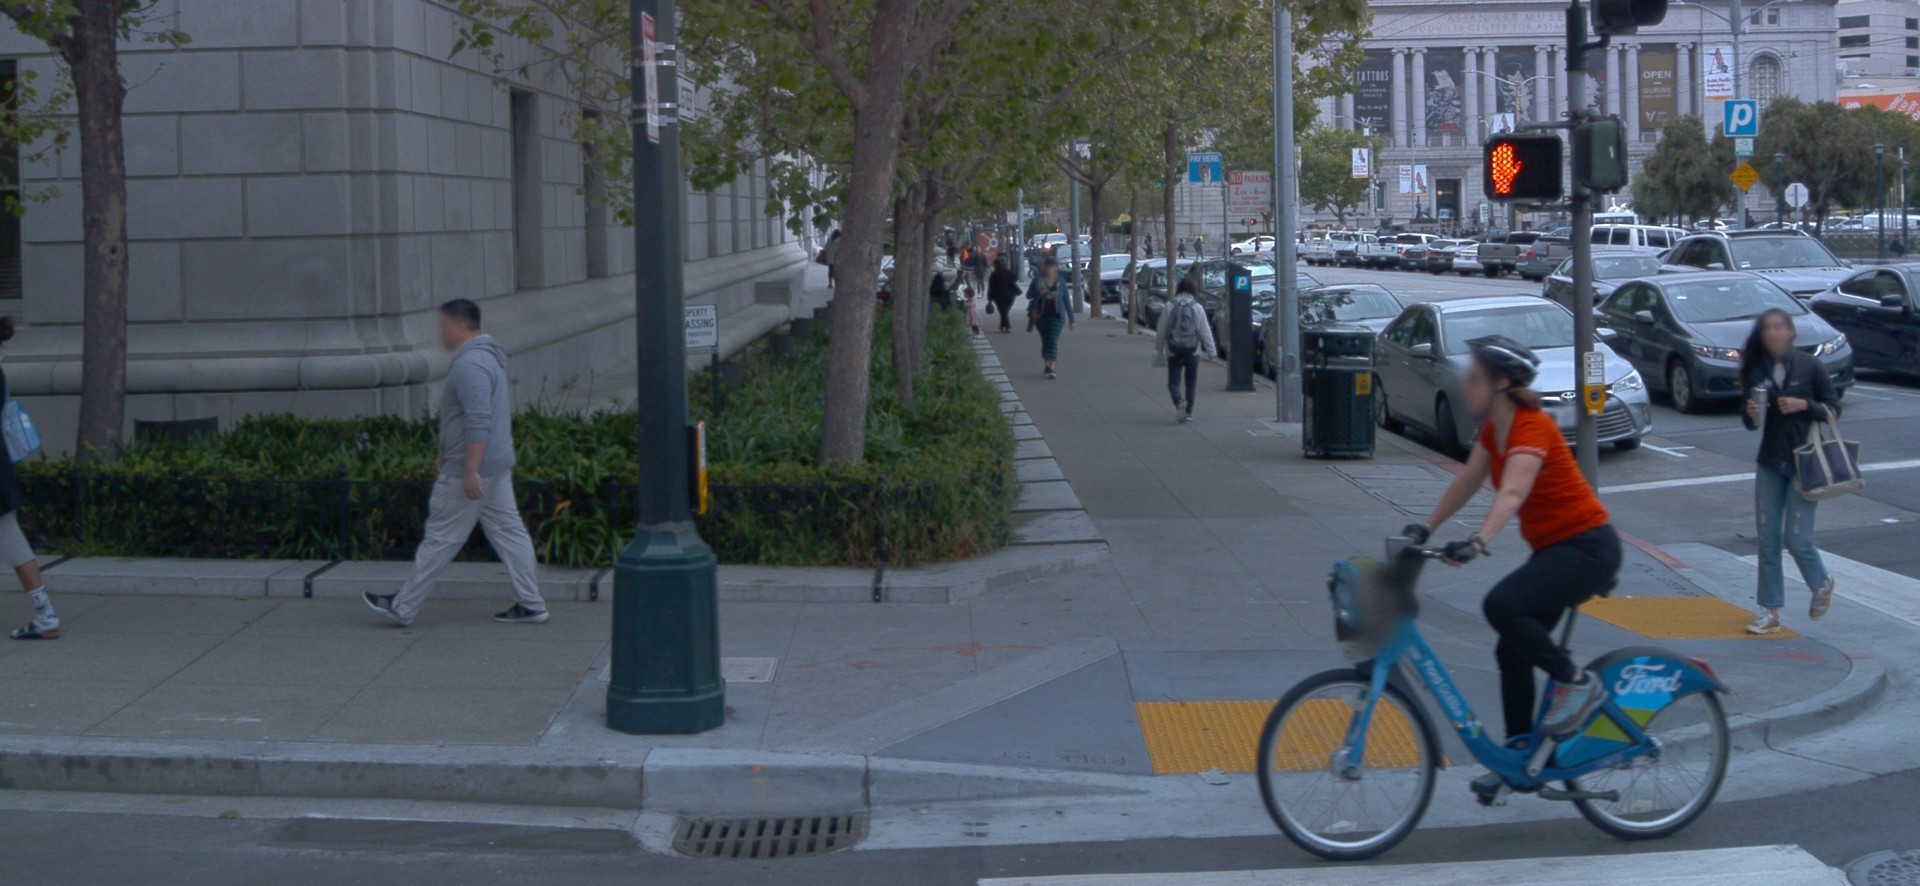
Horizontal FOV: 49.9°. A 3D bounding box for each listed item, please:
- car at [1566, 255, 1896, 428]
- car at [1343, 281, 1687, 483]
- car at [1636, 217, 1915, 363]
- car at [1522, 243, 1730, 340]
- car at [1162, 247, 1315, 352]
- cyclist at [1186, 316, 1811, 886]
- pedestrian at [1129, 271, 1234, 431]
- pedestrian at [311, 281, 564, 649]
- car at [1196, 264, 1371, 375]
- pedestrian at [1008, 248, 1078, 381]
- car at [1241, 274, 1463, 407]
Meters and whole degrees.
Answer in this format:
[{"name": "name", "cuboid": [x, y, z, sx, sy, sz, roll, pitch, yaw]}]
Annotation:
[{"name": "car", "cuboid": [8.455, -1.231, 23.103, 2.074, 1.621, 4.573, 0, 6, 1]}, {"name": "car", "cuboid": [5.366, -0.727, 20.654, 2.130, 1.581, 4.806, 0, 6, 0]}, {"name": "car", "cuboid": [11.696, -2.307, 29.968, 2.128, 1.890, 4.701, 0, 6, -1]}, {"name": "car", "cuboid": [11.505, -2.699, 35.979, 2.097, 1.481, 4.736, 0, 6, 0]}, {"name": "car", "cuboid": [5.222, -2.800, 39.326, 2.231, 1.740, 4.910, 0, 6, 0]}, {"name": "cyclist", "cuboid": [1.828, 0.517, 7.158, 1.929, 1.847, 0.830, -1, 2, -8]}, {"name": "pedestrian", "cuboid": [2.379, -1.009, 22.203, 1.012, 1.654, 0.859, 0, 2, -2]}, {"name": "pedestrian", "cuboid": [-2.607, 0.072, 10.410, 1.079, 1.739, 0.857, 0, 2, -4]}, {"name": "car", "cuboid": [5.138, -2.067, 33.411, 2.072, 1.521, 4.713, 0, 6, 0]}, {"name": "pedestrian", "cuboid": [1.178, -1.838, 29.190, 0.896, 1.831, 0.978, 0, 2, 7]}, {"name": "car", "cuboid": [5.248, -1.482, 28.271, 2.120, 1.491, 4.717, 0, 6, 0]}]
